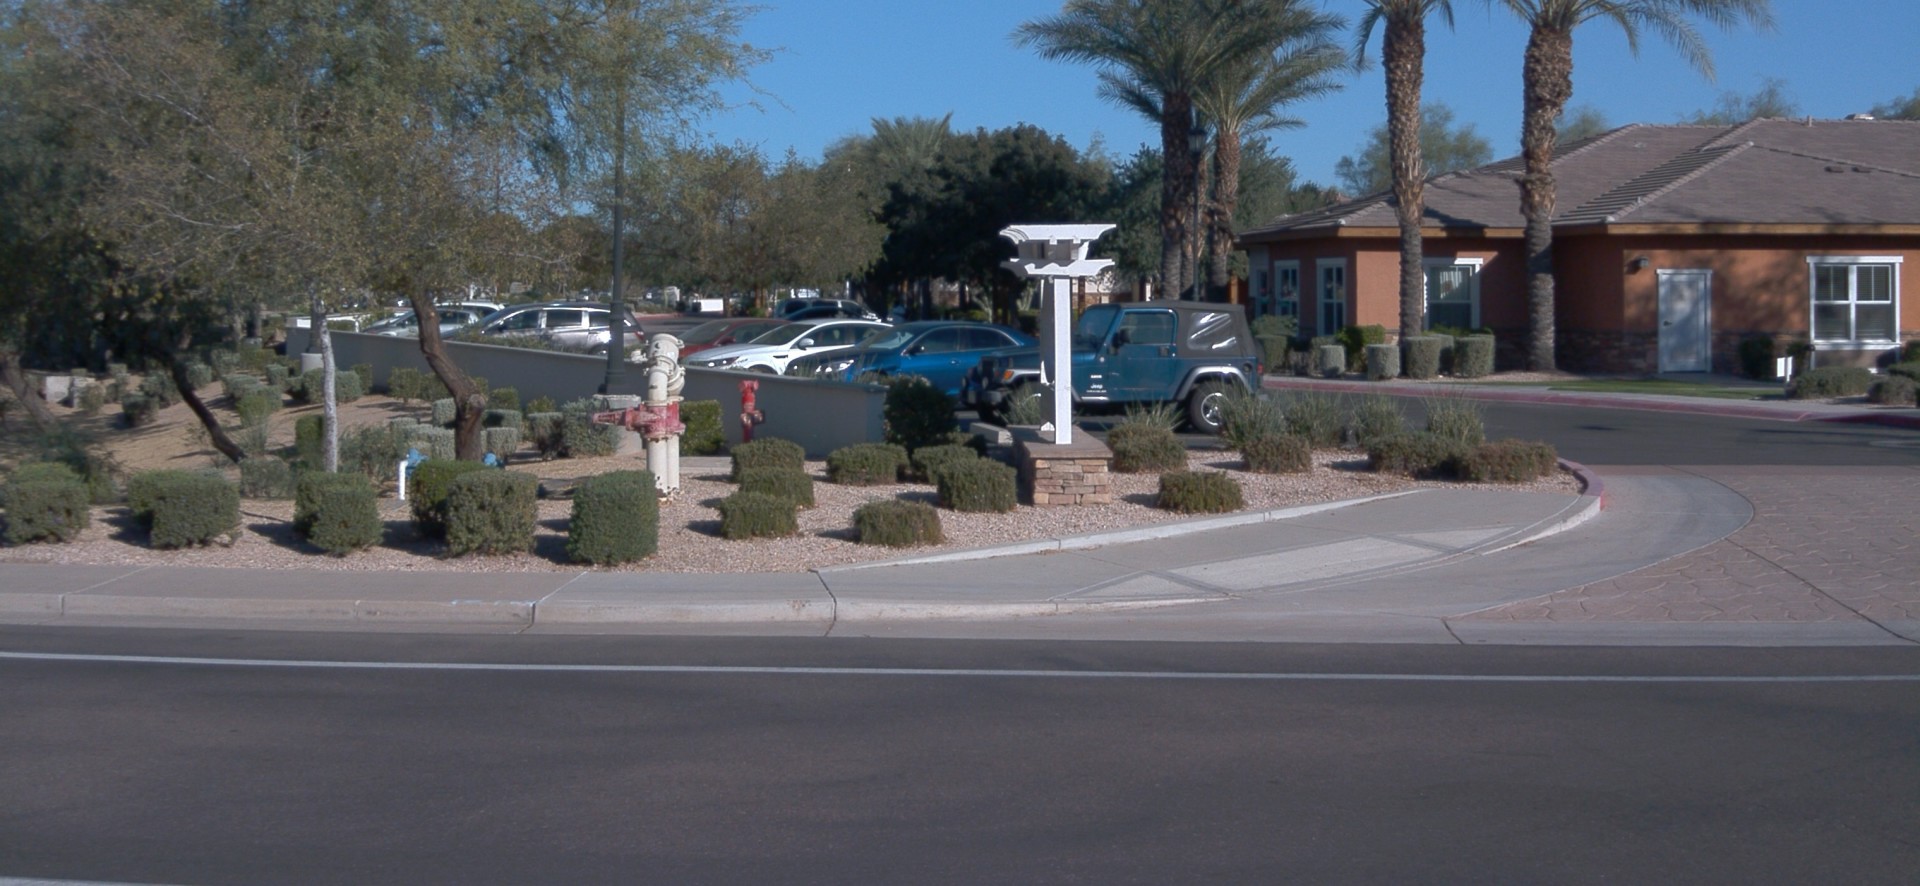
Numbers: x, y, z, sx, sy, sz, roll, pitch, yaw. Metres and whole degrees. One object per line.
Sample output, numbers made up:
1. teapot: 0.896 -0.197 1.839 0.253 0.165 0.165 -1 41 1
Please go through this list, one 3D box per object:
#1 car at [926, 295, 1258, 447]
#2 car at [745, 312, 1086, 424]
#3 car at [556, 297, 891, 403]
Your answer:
1. car: 1.726 -1.013 27.615 3.983 1.795 1.984 -1 4 -17
2. car: -0.692 -1.261 33.249 5.069 1.494 2.102 -3 5 -27
3. car: -4.302 -1.768 38.043 5.632 1.614 2.409 -3 6 -32
